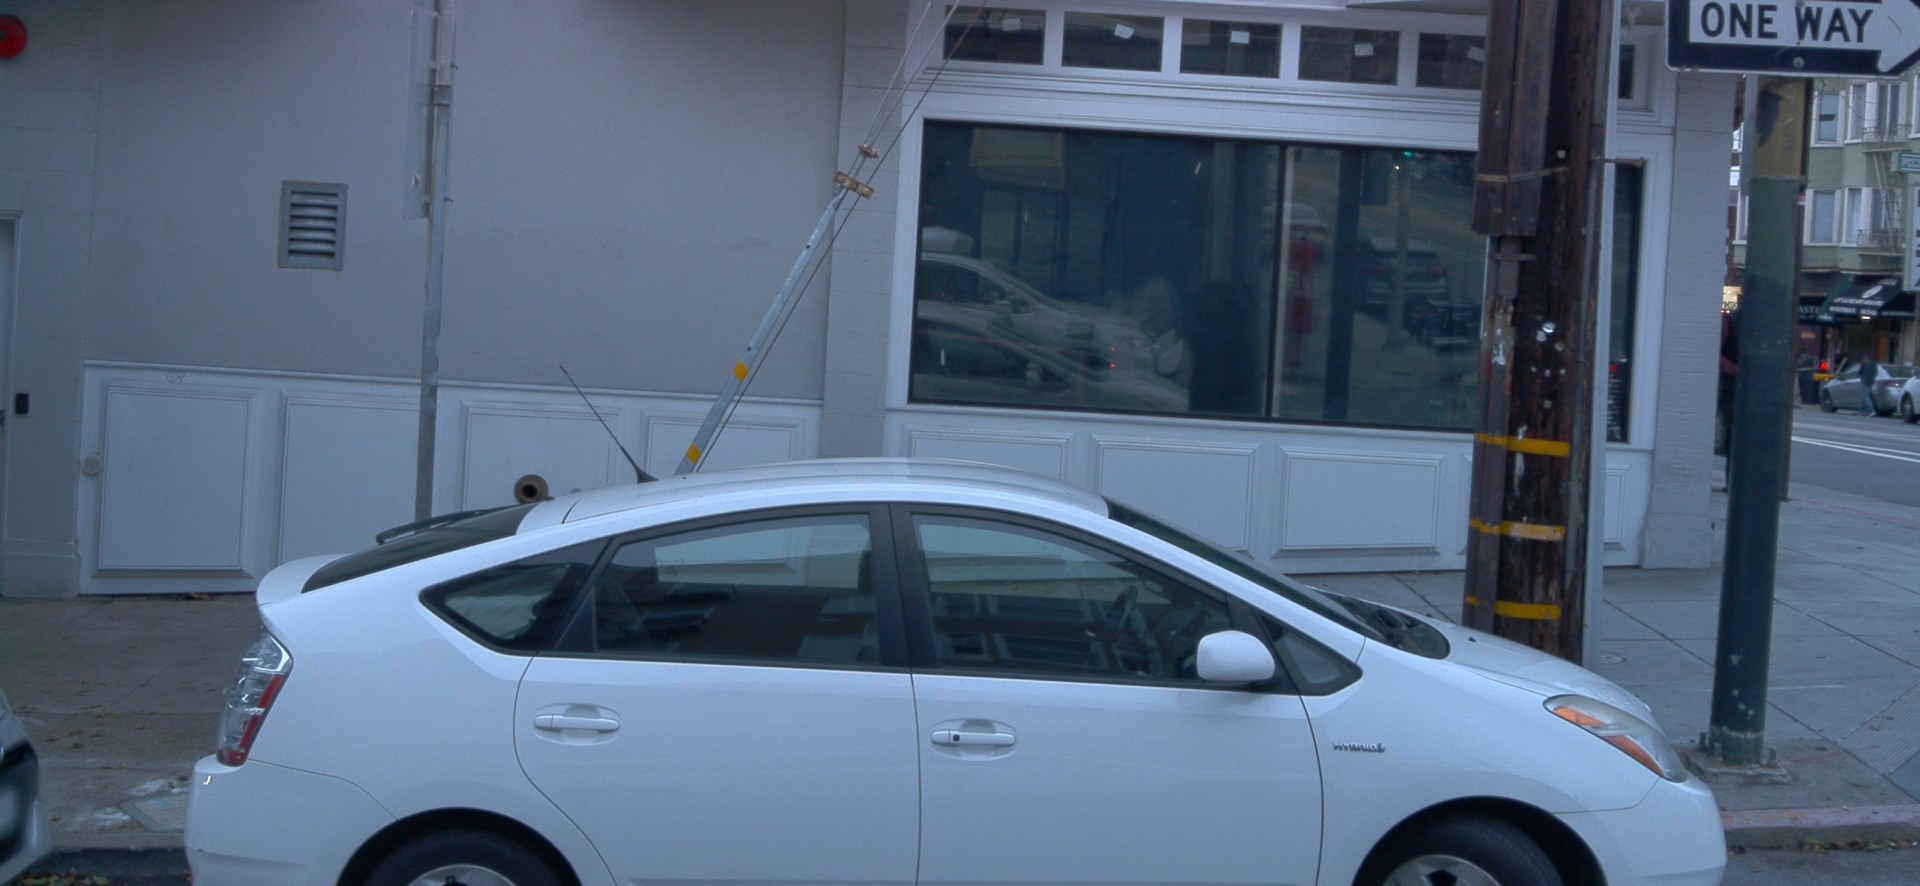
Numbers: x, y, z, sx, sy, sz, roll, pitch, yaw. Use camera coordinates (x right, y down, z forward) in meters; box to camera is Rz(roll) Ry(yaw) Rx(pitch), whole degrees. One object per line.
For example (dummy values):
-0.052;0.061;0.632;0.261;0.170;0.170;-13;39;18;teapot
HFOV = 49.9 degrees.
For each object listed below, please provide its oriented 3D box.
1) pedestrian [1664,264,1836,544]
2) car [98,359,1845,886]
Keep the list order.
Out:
5.740;-0.326;15.063;0.800;1.918;1.274;0;3;2;pedestrian
0.040;0.749;6.293;4.494;1.824;1.965;-1;4;-2;car
